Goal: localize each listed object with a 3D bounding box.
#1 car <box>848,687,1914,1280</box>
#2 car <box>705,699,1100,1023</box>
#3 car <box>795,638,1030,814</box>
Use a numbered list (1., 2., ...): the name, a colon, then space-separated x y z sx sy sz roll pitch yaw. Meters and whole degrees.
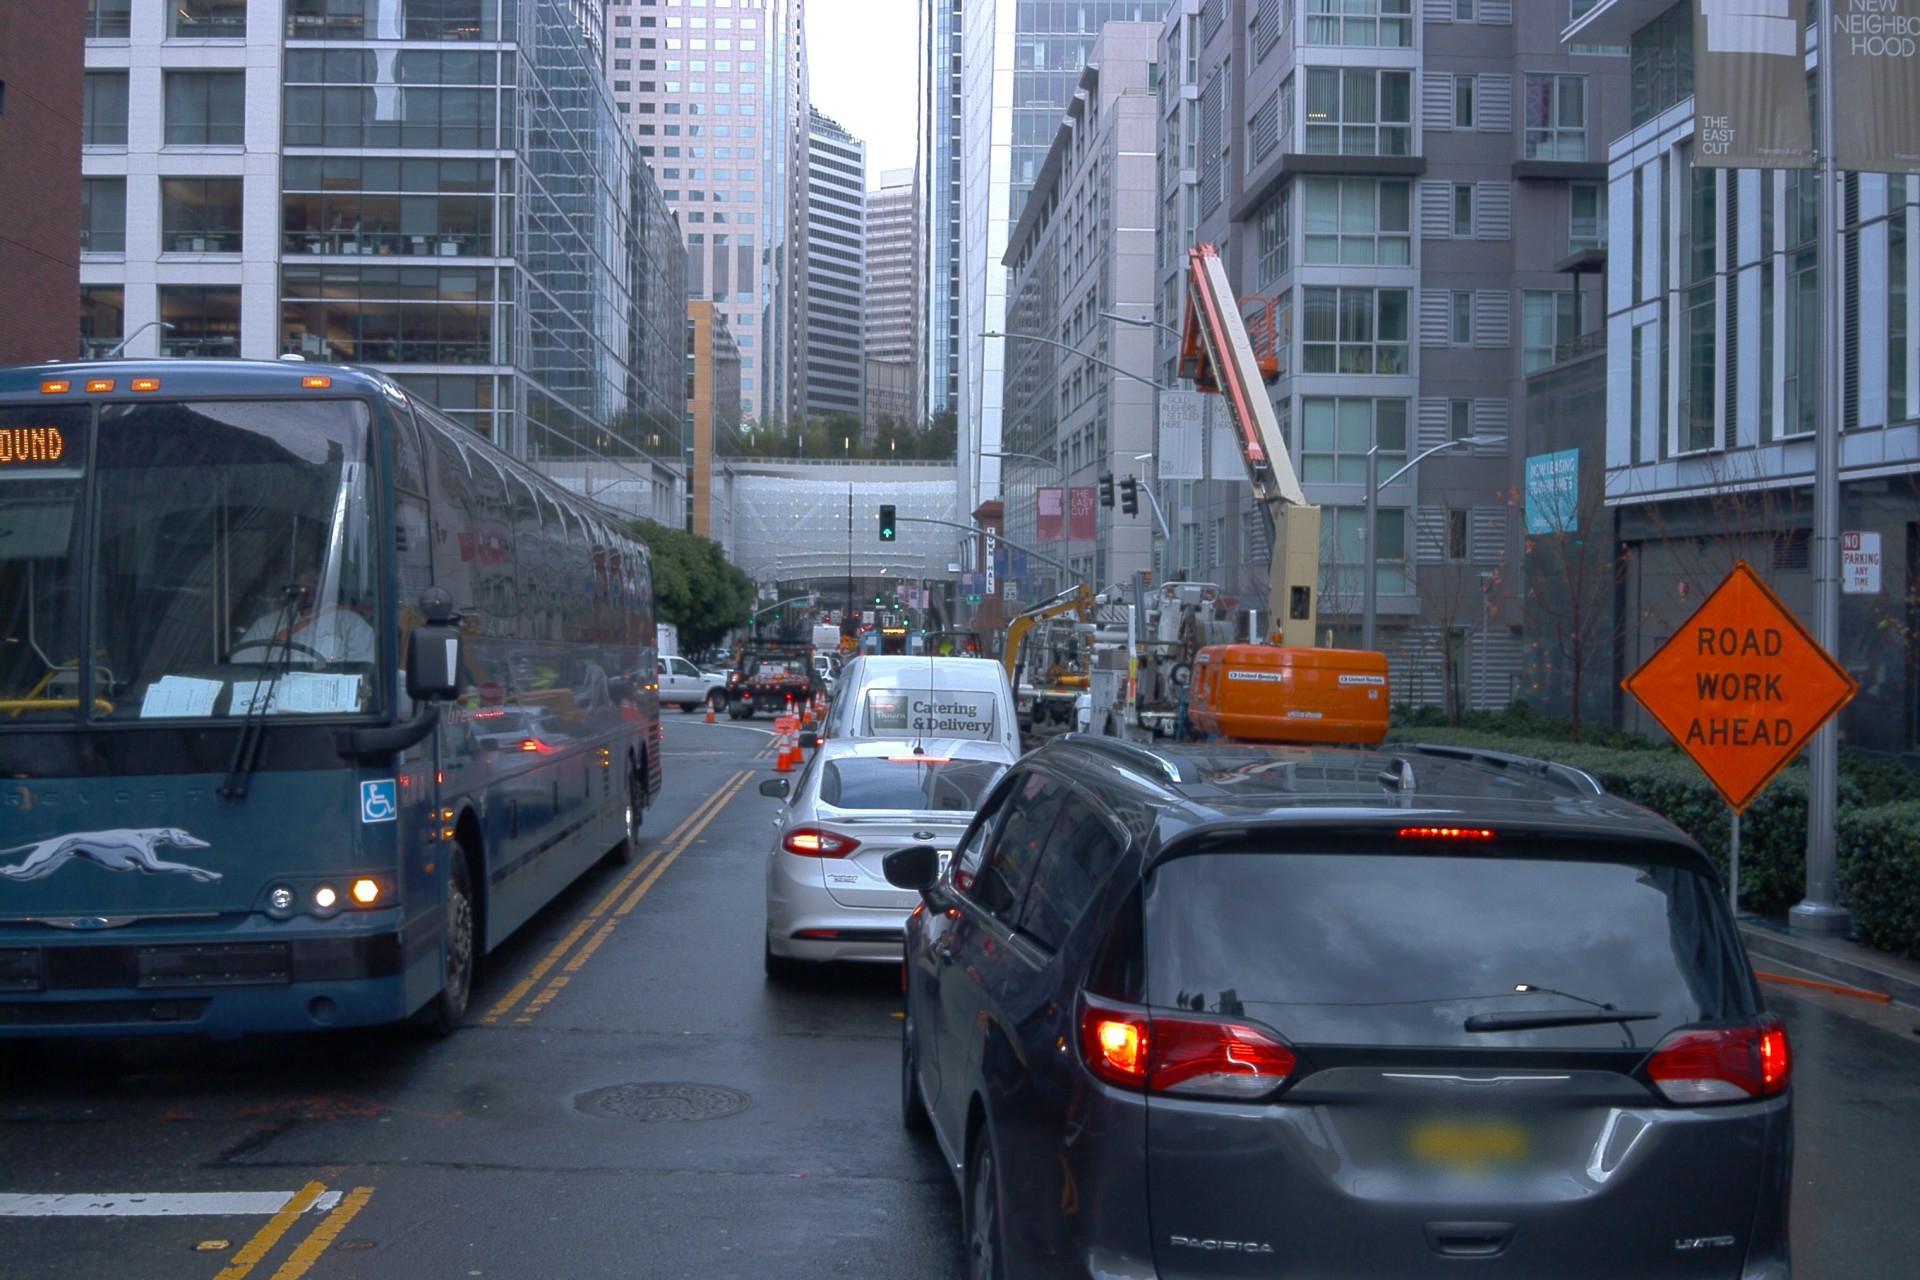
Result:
1. car: 0.803 1.118 6.811 2.058 1.750 4.787 1 1 -6
2. car: -0.376 1.290 13.826 2.164 1.580 4.901 1 1 -1
3. car: -0.540 0.744 19.508 1.860 1.470 3.431 1 1 -7
